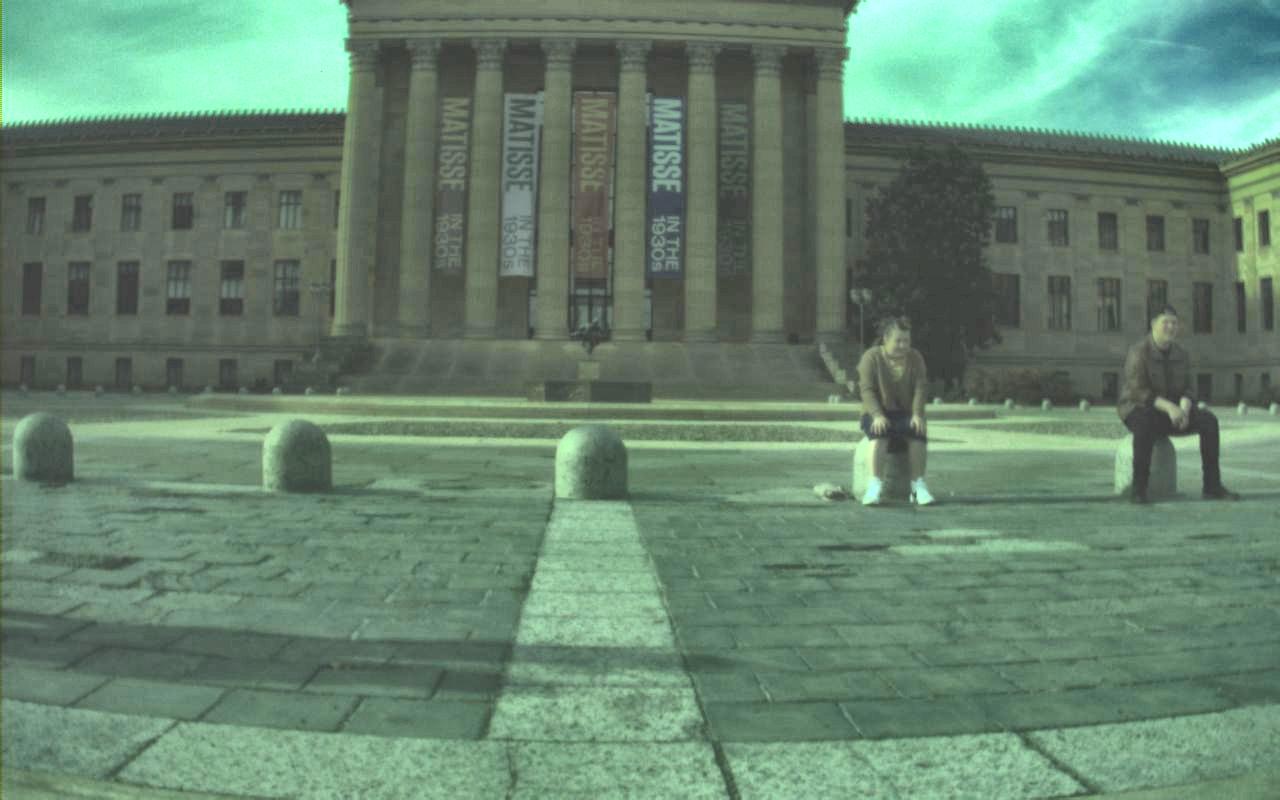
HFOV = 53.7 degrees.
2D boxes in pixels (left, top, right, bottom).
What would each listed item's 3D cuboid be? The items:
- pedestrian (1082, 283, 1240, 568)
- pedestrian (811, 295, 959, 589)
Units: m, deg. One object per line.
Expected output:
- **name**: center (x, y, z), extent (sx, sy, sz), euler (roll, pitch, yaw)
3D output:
- **pedestrian**: center (3.491, 0.173, 7.877), extent (0.855, 1.807, 0.861), euler (0, 0, 4)
- **pedestrian**: center (1.580, 0.246, 7.880), extent (0.834, 1.770, 0.828), euler (1, 0, 17)
